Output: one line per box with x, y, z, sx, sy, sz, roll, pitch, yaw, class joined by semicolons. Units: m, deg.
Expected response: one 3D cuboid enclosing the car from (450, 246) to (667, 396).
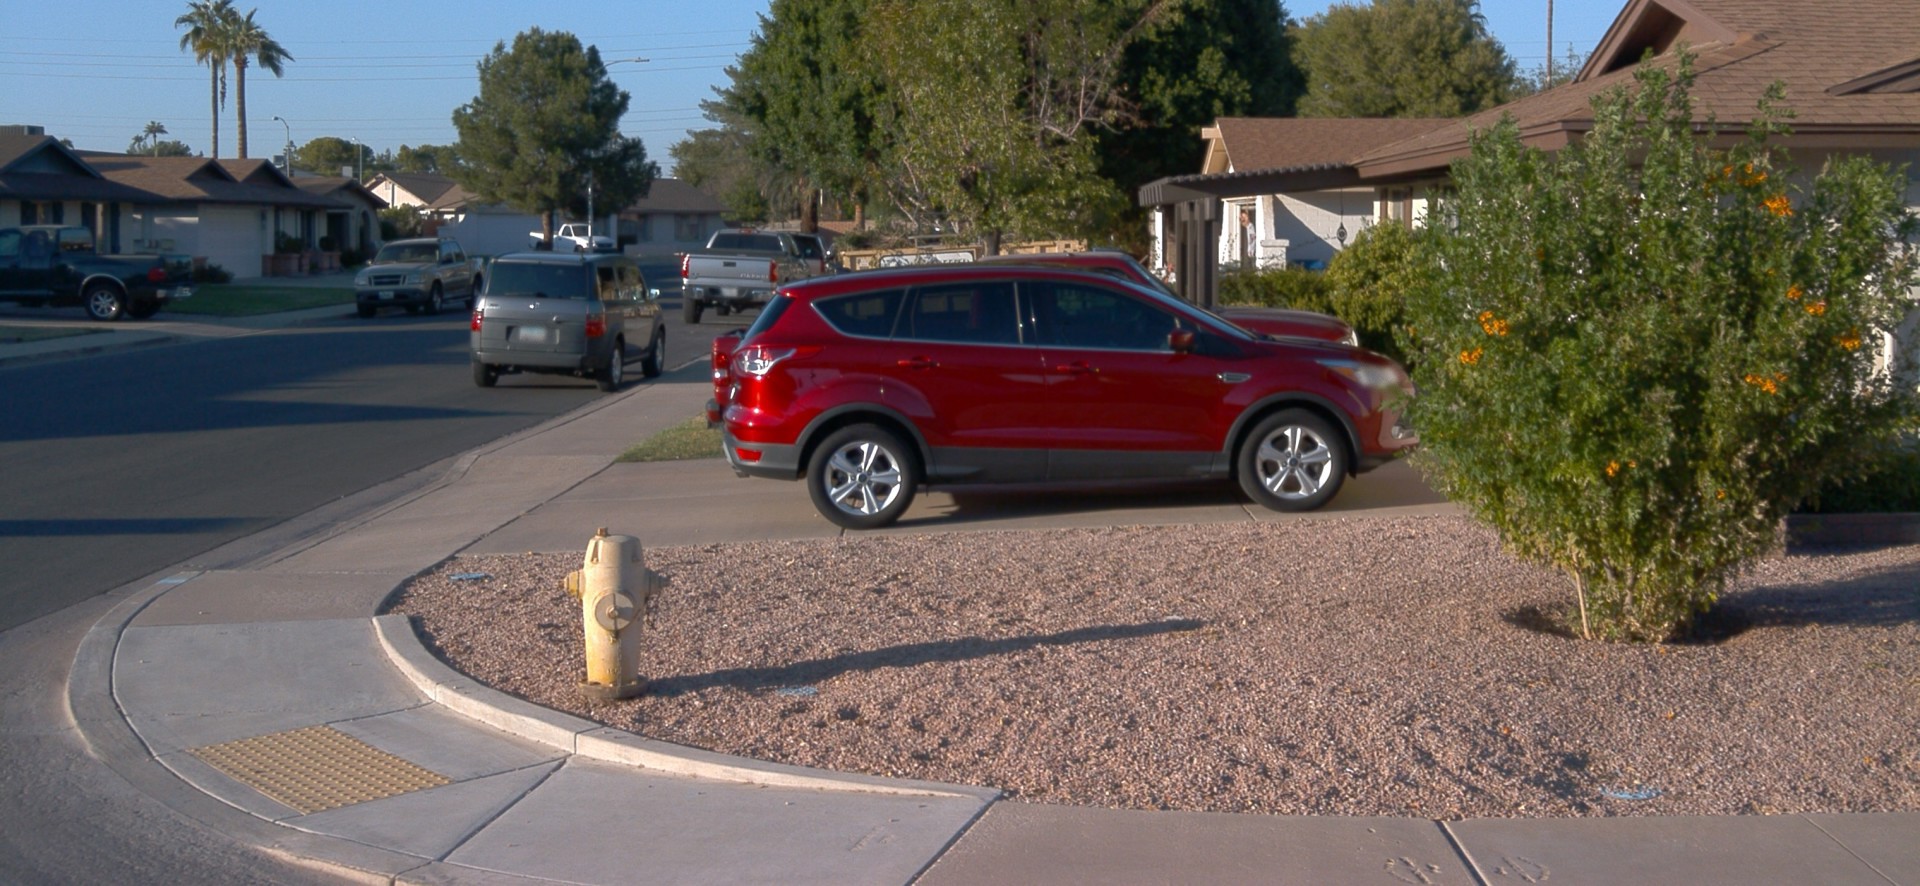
-5.304;-1.721;27.986;1.967;1.802;4.143;0;5;2;car

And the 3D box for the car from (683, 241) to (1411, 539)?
0.527;-0.426;14.041;4.584;1.825;1.980;0;4;-3;car

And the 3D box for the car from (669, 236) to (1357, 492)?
0.408;-0.697;16.732;5.203;1.895;2.005;0;4;0;car
